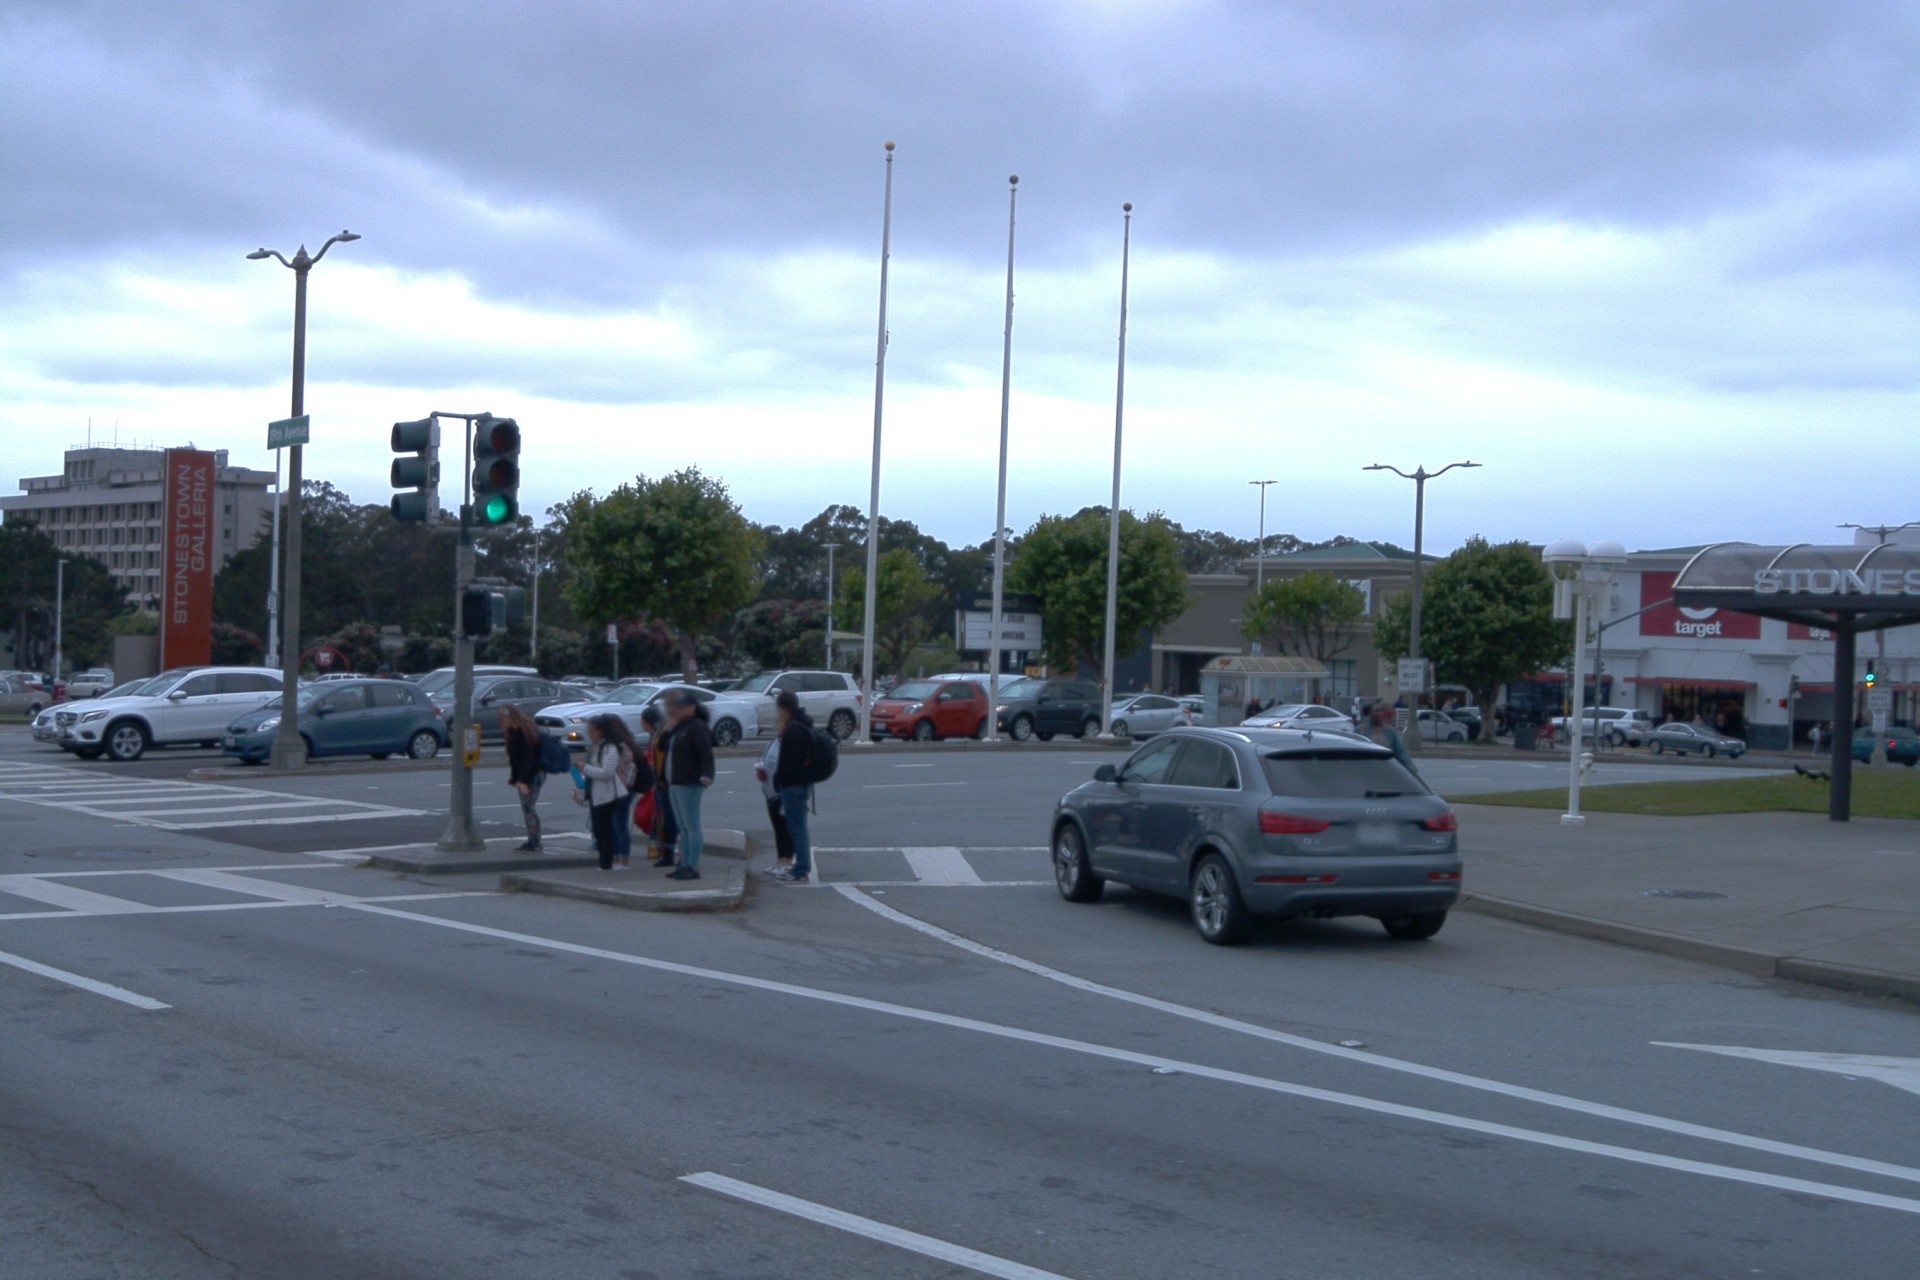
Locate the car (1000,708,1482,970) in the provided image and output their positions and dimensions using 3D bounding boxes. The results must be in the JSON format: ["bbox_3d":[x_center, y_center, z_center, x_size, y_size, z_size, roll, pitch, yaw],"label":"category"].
[{"bbox_3d":[2.101,1.475,16.810,2.076,1.630,4.332,0,1,-20],"label":"car"}]

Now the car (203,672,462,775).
[{"bbox_3d":[-10.965,1.407,36.080,2.001,1.590,3.859,0,1,44],"label":"car"}]

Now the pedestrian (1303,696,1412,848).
[{"bbox_3d":[4.560,1.494,23.660,0.974,1.660,1.074,0,0,-5],"label":"pedestrian"}]
